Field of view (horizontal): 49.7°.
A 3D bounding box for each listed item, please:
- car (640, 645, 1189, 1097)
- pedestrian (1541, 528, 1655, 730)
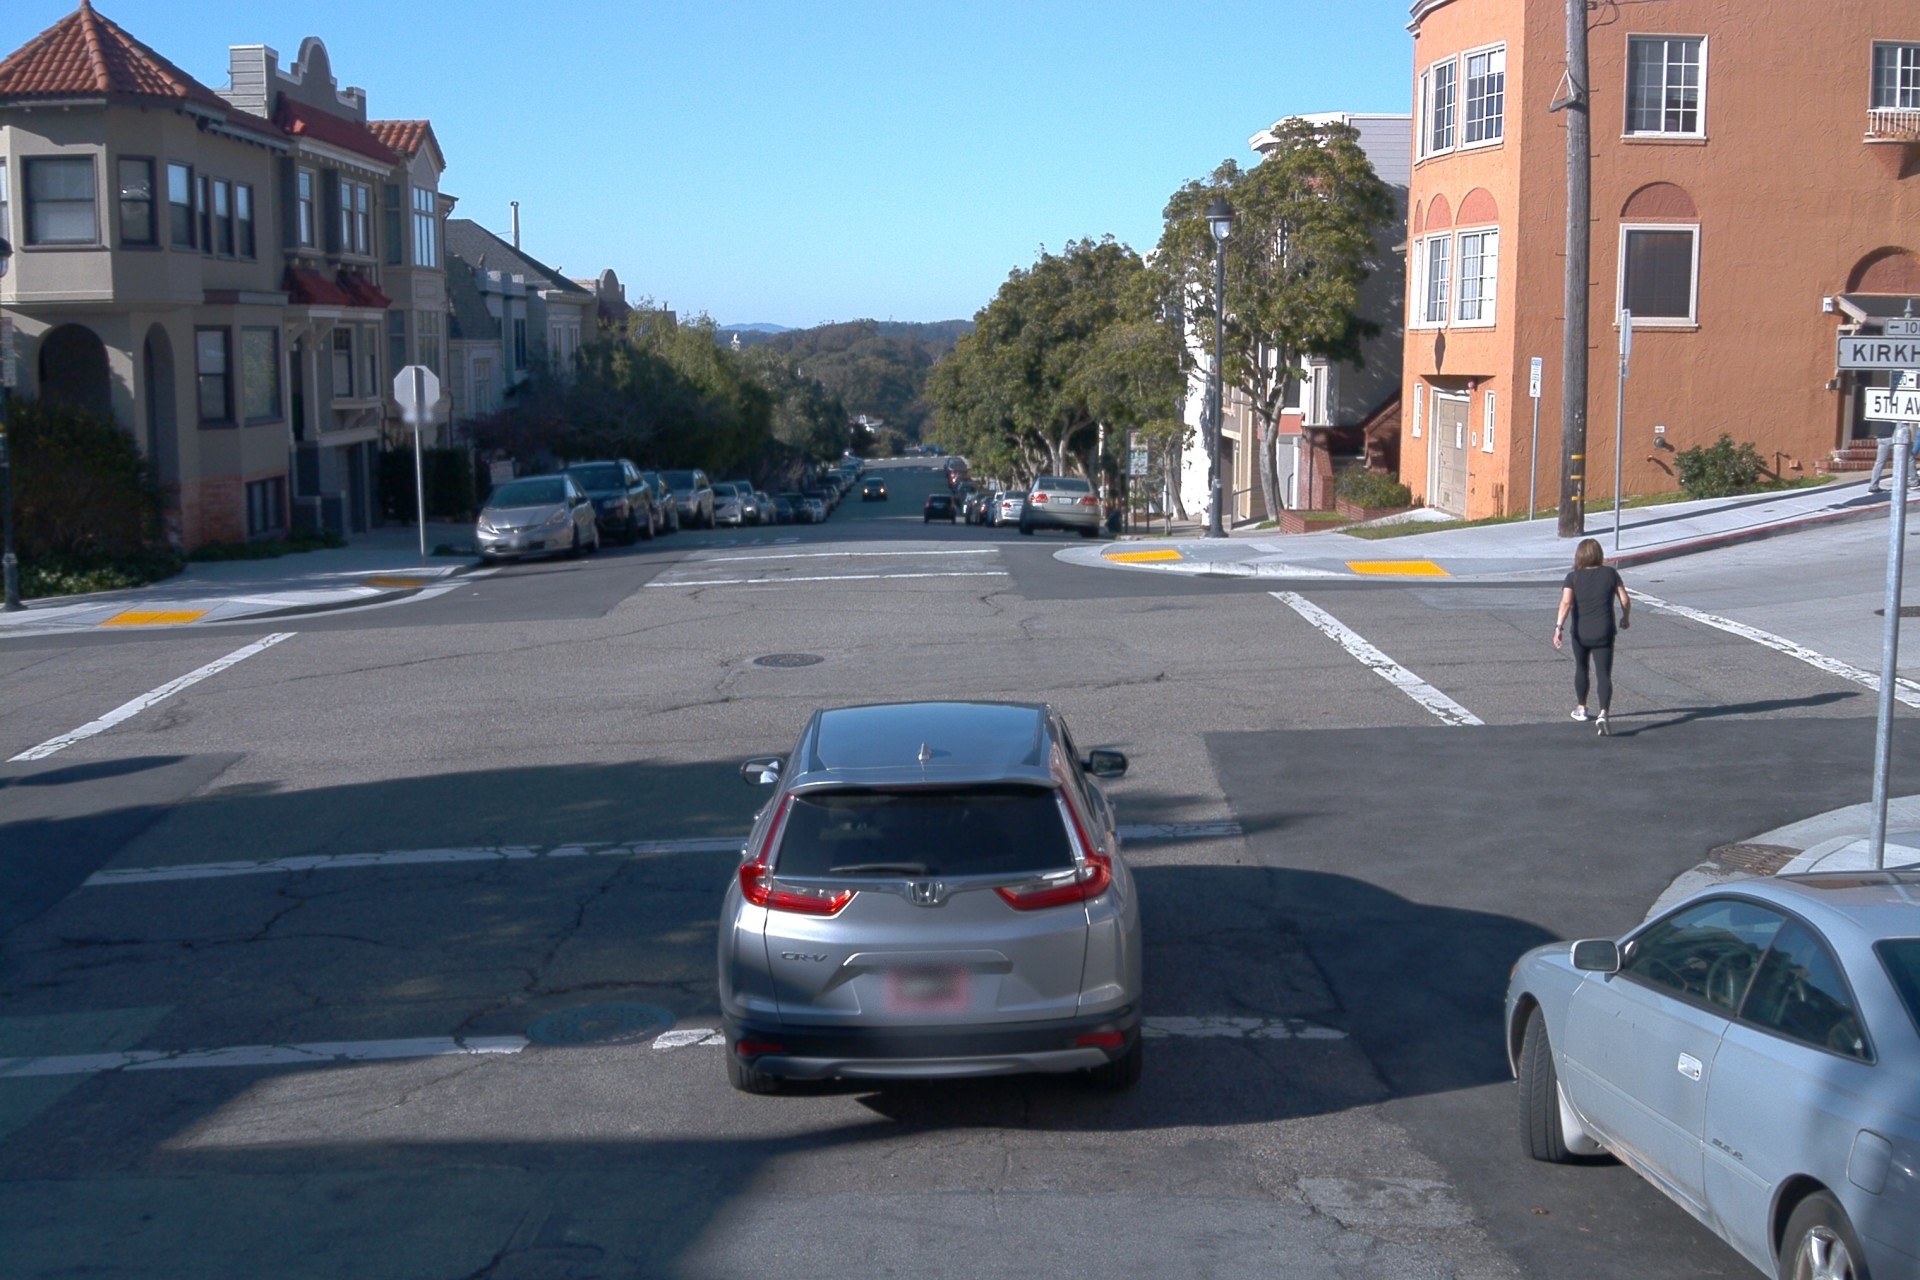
[{"bbox_3d":[-0.194,0.935,10.609,2.191,1.800,4.695,0,0,0],"label":"car"},{"bbox_3d":[5.278,-0.087,17.190,0.730,1.620,1.129,0,0,8],"label":"pedestrian"}]
